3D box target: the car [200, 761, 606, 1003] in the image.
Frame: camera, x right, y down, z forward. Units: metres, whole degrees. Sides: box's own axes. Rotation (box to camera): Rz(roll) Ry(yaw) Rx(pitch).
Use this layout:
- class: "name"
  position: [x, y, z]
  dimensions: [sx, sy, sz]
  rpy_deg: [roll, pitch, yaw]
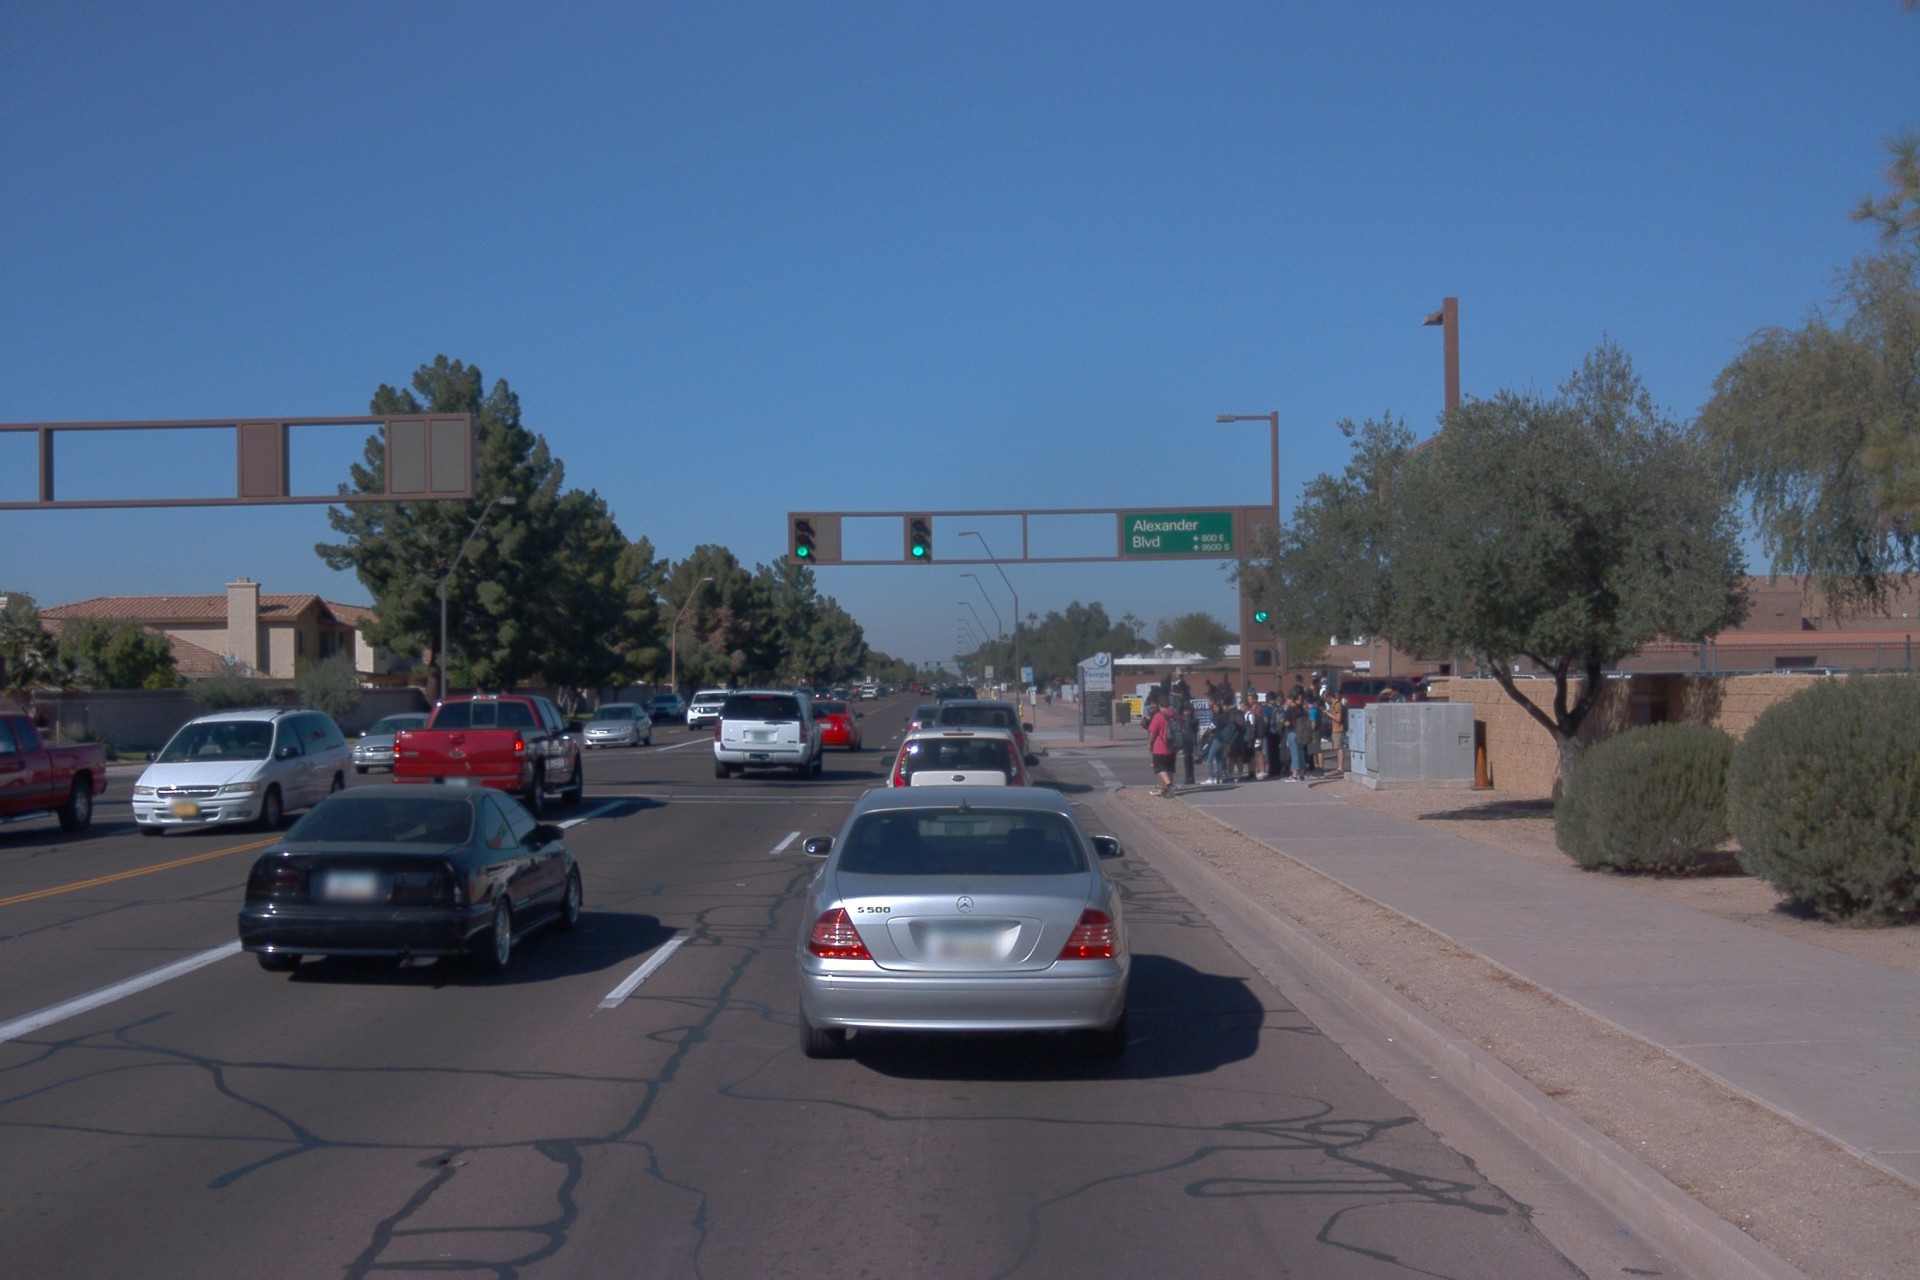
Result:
- class: "car"
  position: [-4.022, 1.714, 15.826]
  dimensions: [1.915, 1.410, 4.397]
  rpy_deg: [0, -1, 0]

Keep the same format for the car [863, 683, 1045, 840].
- class: "car"
  position: [-0.022, 1.418, 25.708]
  dimensions: [2.056, 1.760, 4.487]
  rpy_deg: [0, -1, 1]

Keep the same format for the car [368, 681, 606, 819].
- class: "car"
  position: [-7.302, 1.648, 32.826]
  dimensions: [2.581, 1.980, 5.796]
  rpy_deg: [0, -1, -2]

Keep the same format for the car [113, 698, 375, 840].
- class: "car"
  position: [-10.532, 1.840, 31.046]
  dimensions: [2.205, 1.900, 4.991]
  rpy_deg: [0, -1, 0]

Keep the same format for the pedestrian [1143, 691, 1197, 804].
- class: "pedestrian"
  position: [3.619, 1.829, 35.750]
  dimensions: [0.877, 1.910, 0.879]
  rpy_deg: [0, -1, 9]

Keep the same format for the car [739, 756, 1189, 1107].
- class: "car"
  position: [0.009, 1.596, 12.738]
  dimensions: [2.265, 1.600, 4.514]
  rpy_deg: [0, -1, 0]
